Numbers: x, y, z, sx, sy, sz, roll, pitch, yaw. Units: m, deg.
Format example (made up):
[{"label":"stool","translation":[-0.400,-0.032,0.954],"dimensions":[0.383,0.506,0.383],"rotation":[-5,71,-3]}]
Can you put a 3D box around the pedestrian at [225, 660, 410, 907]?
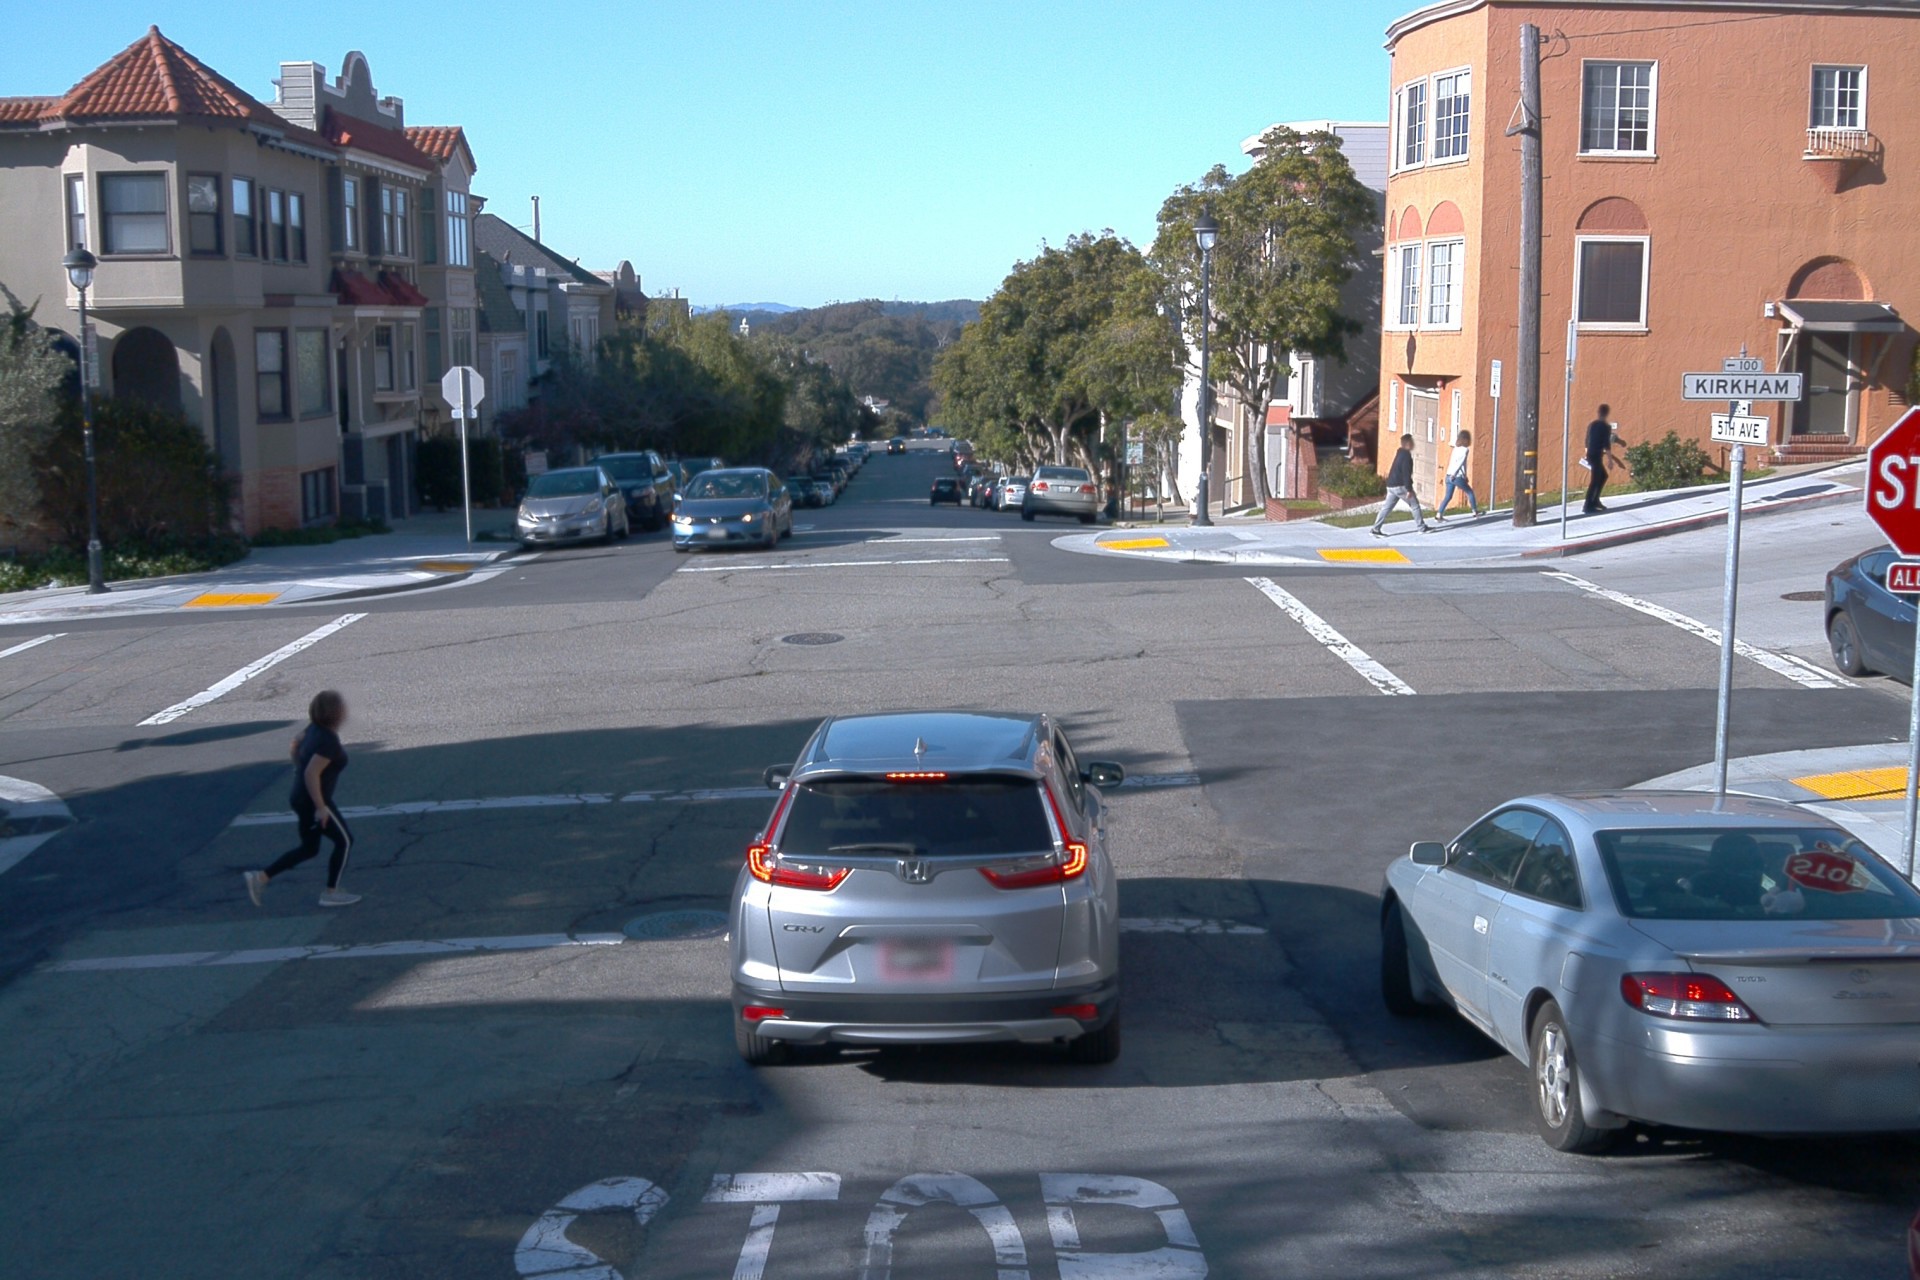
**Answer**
[{"label":"pedestrian","translation":[-4.393,0.946,14.154],"dimensions":[1.128,1.620,0.731],"rotation":[0,0,-24]}]

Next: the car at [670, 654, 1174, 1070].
[{"label":"car","translation":[-0.179,0.983,11.370],"dimensions":[2.191,1.800,4.695],"rotation":[0,0,0]}]
